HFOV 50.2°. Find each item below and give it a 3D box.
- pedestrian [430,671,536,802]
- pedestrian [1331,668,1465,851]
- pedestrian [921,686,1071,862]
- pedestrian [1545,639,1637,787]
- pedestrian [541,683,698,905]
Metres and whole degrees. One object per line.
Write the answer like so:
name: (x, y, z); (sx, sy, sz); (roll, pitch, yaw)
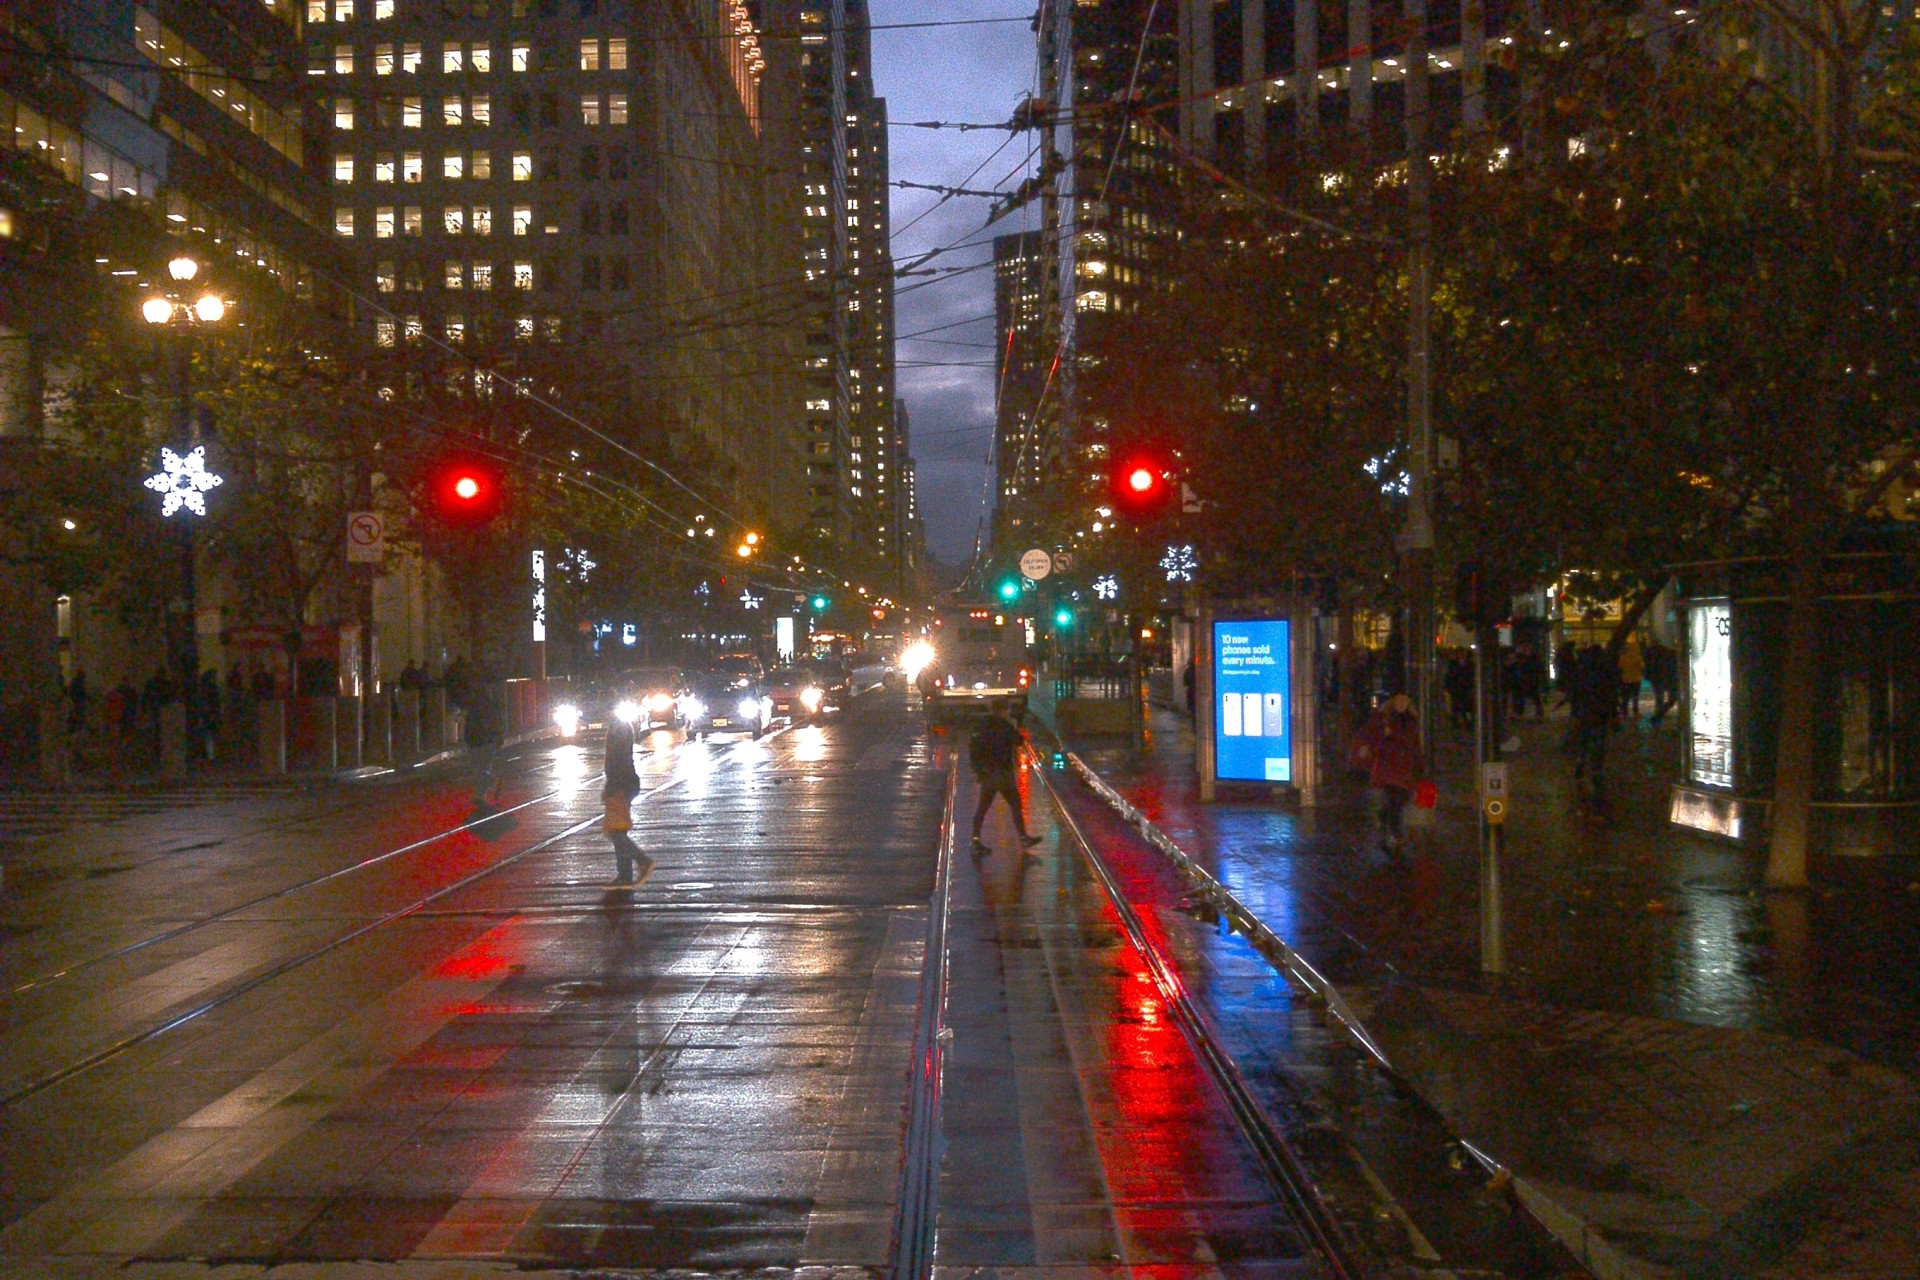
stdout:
pedestrian: (-6.654, 1.325, 28.593); (1.177, 1.780, 0.853); (0, 0, 32)
pedestrian: (4.226, 1.131, 19.843); (1.009, 1.710, 1.059); (0, 0, -4)
pedestrian: (0.355, 1.308, 20.532); (1.051, 1.670, 1.131); (0, 0, -31)
pedestrian: (8.501, 0.959, 27.569); (0.925, 1.940, 1.203); (0, 0, 31)
pedestrian: (-2.904, 1.274, 17.420); (1.150, 1.800, 0.869); (0, 0, -22)
